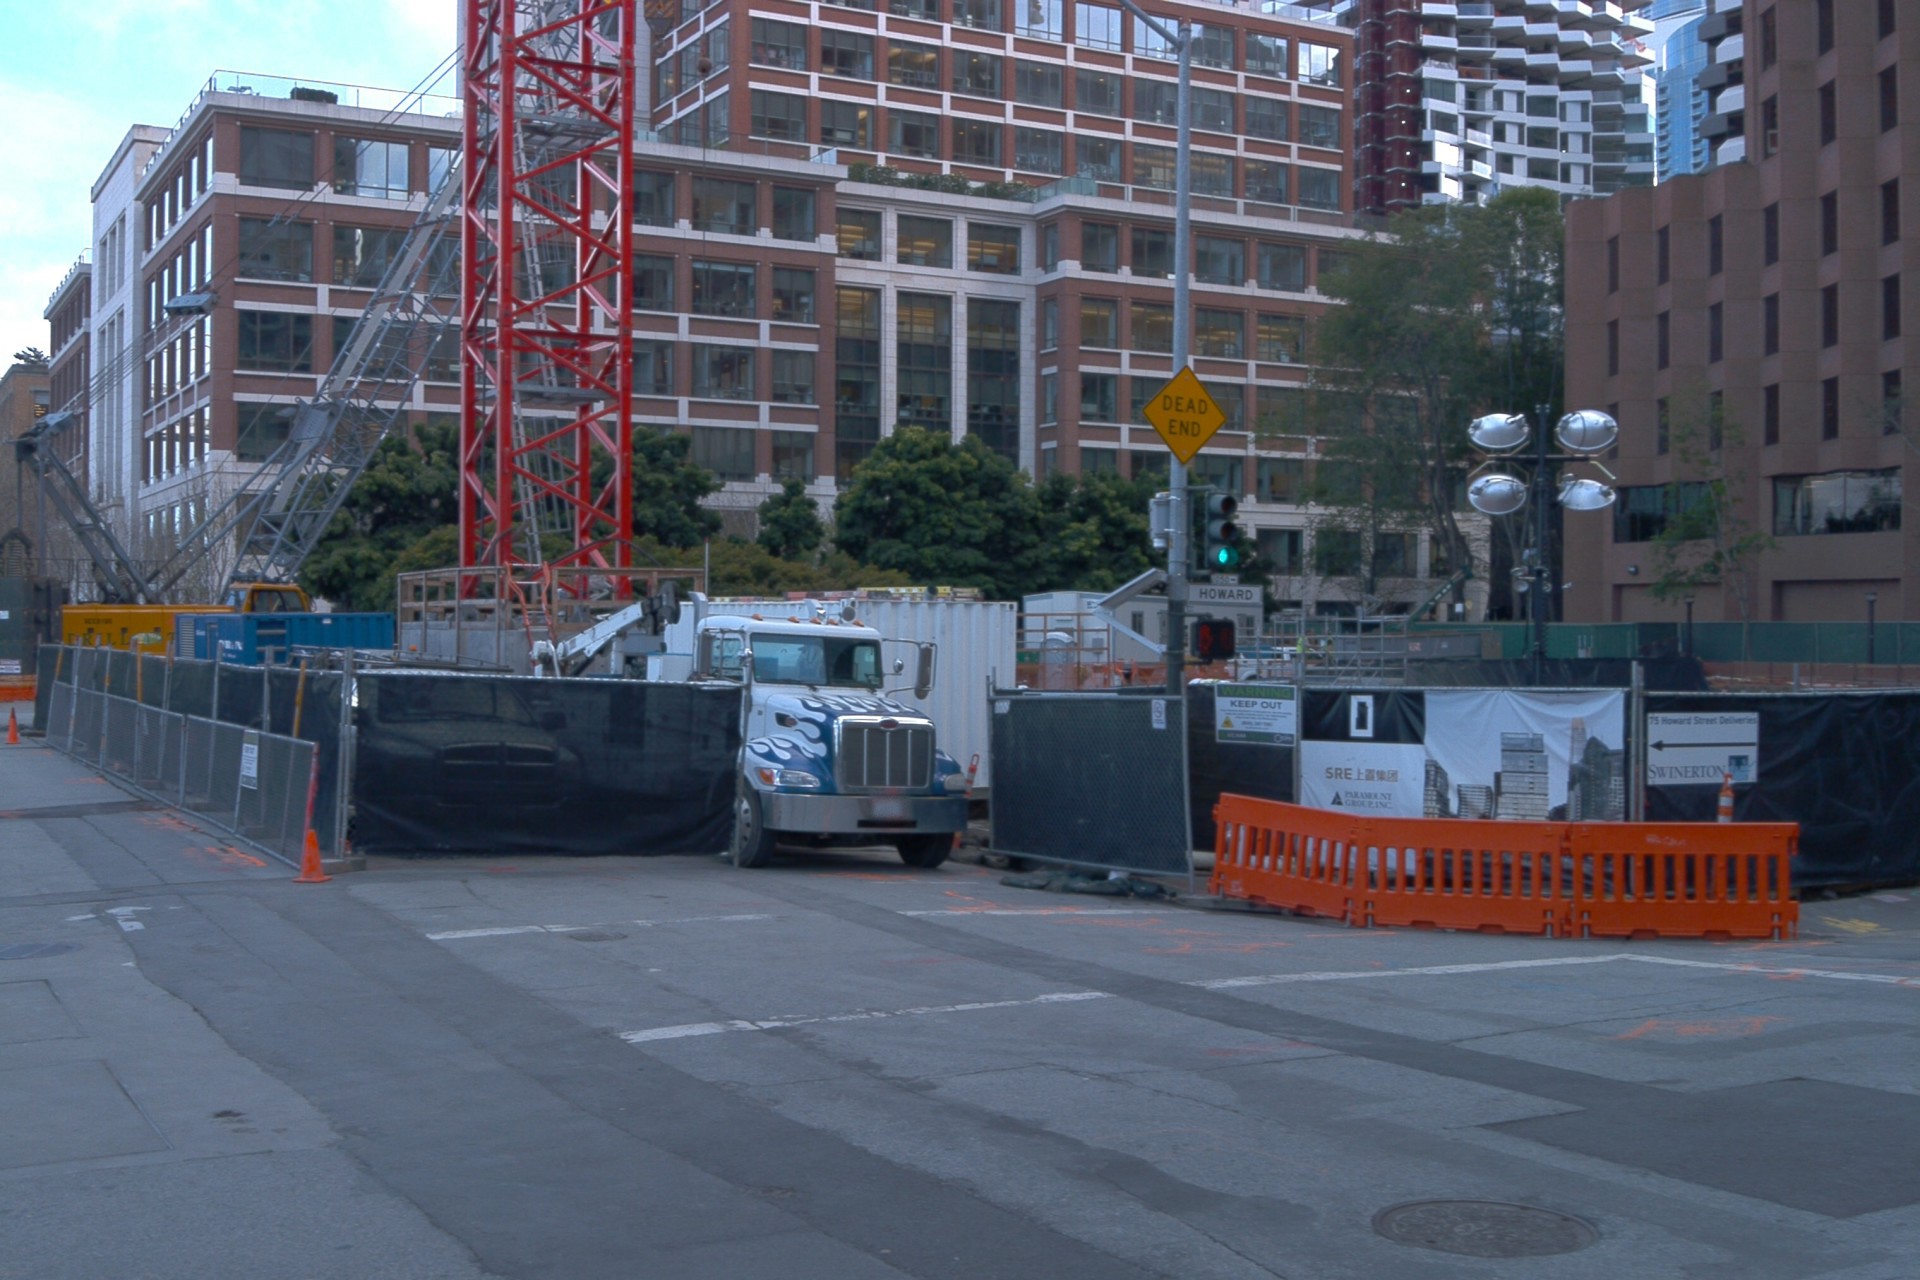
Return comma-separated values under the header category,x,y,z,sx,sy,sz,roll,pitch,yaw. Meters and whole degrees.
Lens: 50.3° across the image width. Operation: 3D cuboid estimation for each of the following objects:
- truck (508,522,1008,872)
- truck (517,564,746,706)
category,x,y,z,sx,sy,sz,roll,pitch,yaw
truck,-2.606,0.525,23.547,2.982,3.380,7.061,0,0,-31
truck,-4.000,-0.072,24.381,1.127,1.550,4.267,0,0,-32
